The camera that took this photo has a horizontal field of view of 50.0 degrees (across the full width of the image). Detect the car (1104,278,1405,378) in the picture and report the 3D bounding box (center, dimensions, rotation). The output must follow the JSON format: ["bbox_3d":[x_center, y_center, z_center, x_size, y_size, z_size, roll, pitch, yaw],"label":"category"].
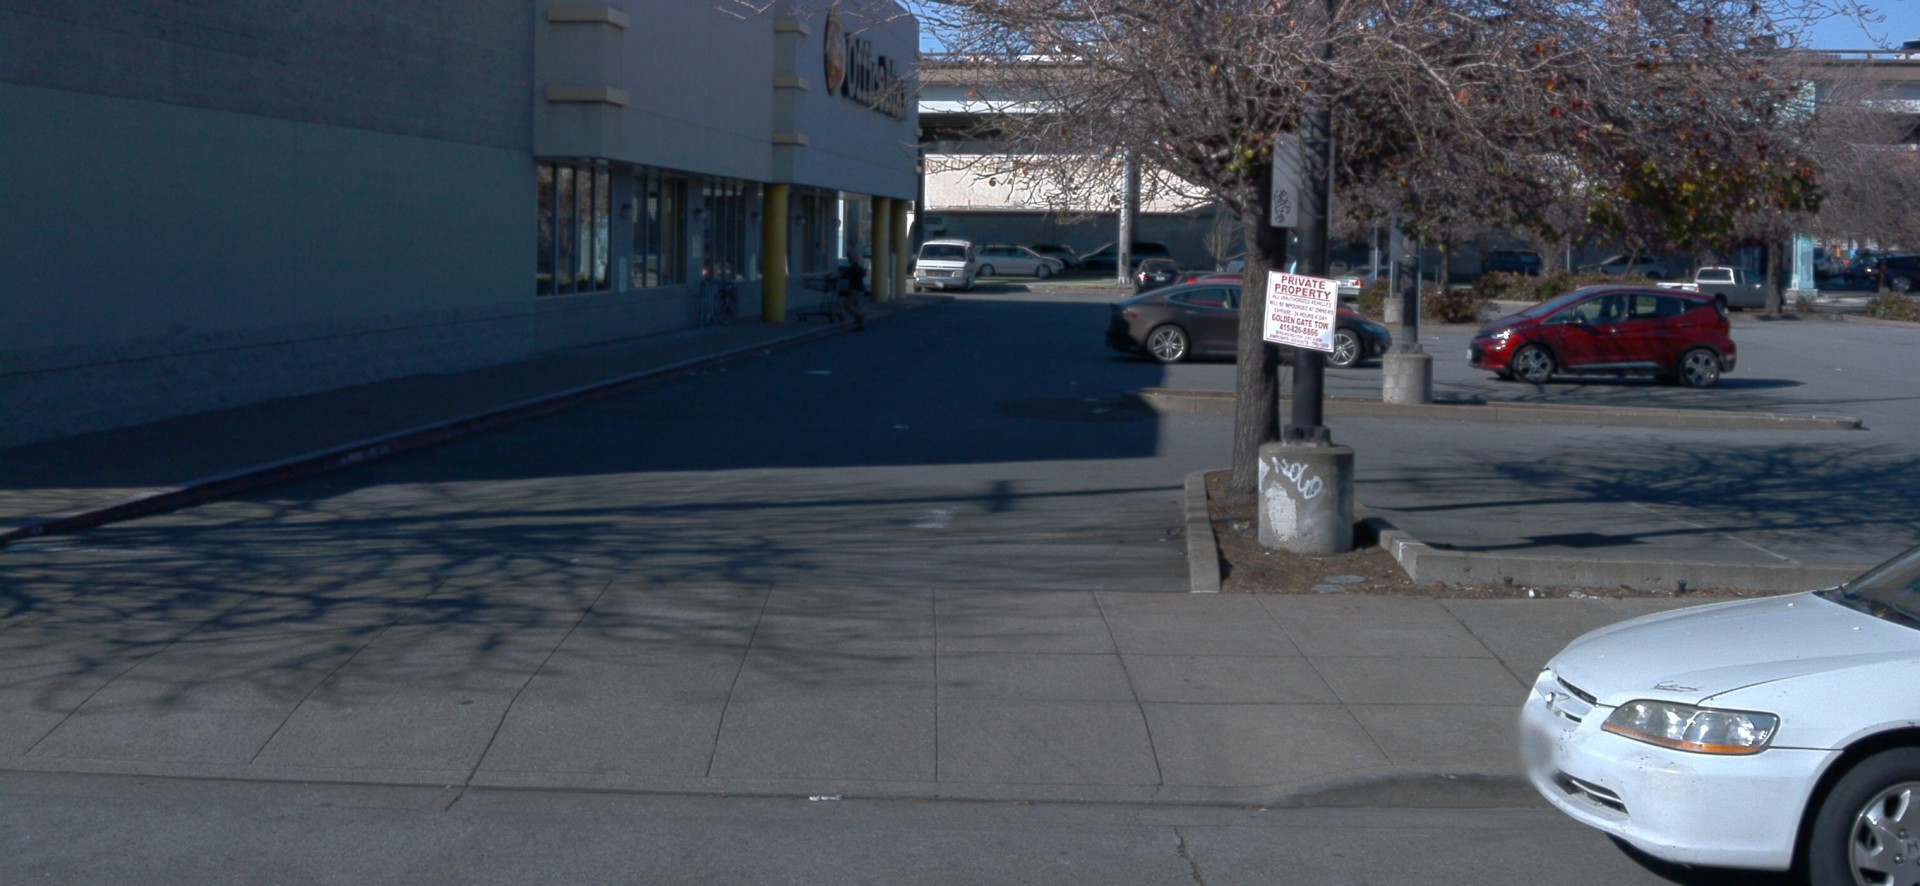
[{"bbox_3d":[5.060,-2.035,35.897,5.044,1.525,1.995,1,4,5],"label":"car"}]

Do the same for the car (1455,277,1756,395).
[{"bbox_3d":[10.200,-1.736,32.747,4.156,1.695,2.038,1,4,2],"label":"car"}]
